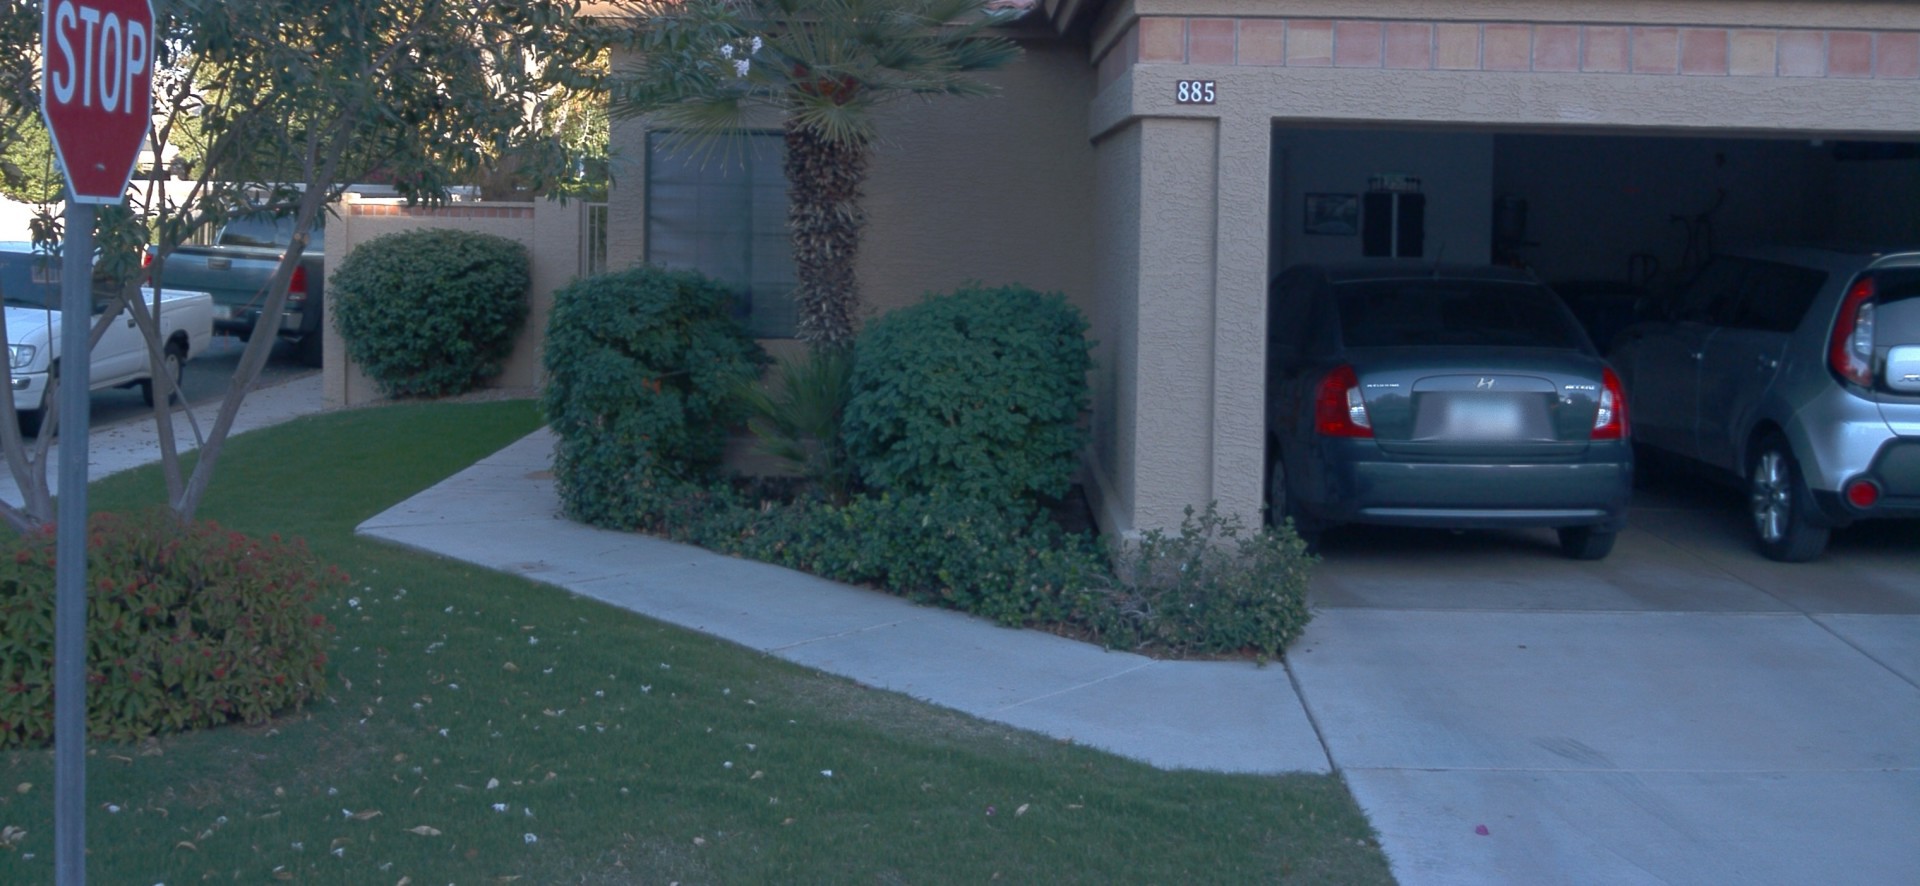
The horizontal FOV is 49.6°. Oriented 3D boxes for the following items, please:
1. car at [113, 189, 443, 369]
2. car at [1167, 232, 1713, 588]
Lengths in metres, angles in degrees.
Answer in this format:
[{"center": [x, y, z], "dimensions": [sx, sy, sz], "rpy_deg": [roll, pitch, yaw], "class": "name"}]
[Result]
[{"center": [-8.348, -2.108, 26.069], "dimensions": [2.172, 1.983, 5.484], "rpy_deg": [1, 5, 2], "class": "car"}, {"center": [2.382, -0.362, 11.559], "dimensions": [2.043, 1.574, 4.394], "rpy_deg": [1, 5, 0], "class": "car"}]
